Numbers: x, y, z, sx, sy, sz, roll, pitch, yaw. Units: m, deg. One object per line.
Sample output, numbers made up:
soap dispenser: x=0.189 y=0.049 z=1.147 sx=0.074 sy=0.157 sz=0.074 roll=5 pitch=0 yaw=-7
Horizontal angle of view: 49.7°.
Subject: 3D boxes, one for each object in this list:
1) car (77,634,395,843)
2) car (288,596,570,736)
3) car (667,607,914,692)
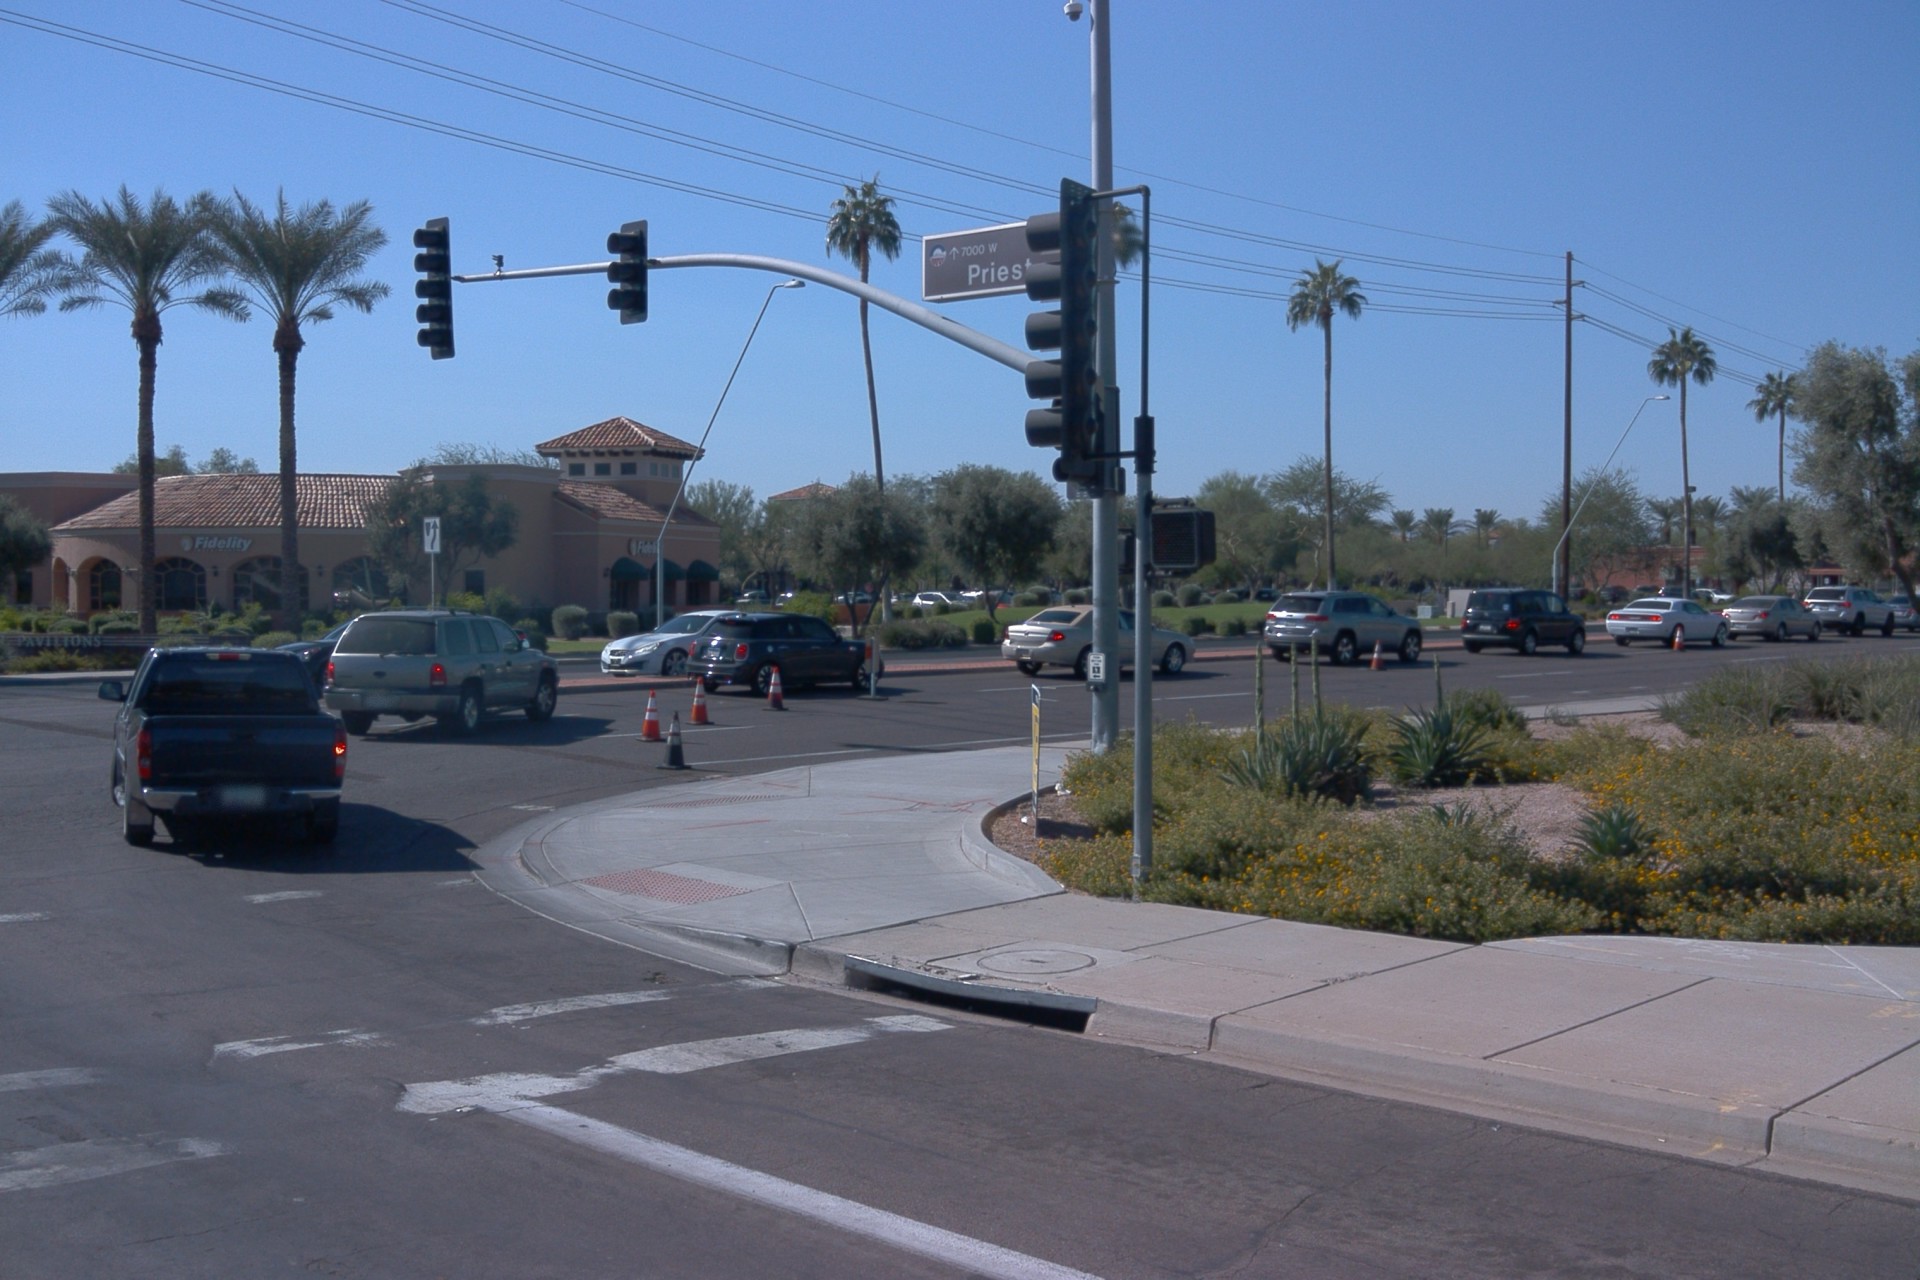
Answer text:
car: x=-6.722 y=0.778 z=18.871 sx=2.144 sy=1.630 sz=4.959 roll=1 pitch=0 yaw=-26
car: x=-7.556 y=0.358 z=30.108 sx=2.173 sy=1.830 sz=4.924 roll=1 pitch=0 yaw=9
car: x=-3.064 y=0.186 z=38.155 sx=1.931 sy=1.480 sz=4.287 roll=1 pitch=0 yaw=44
